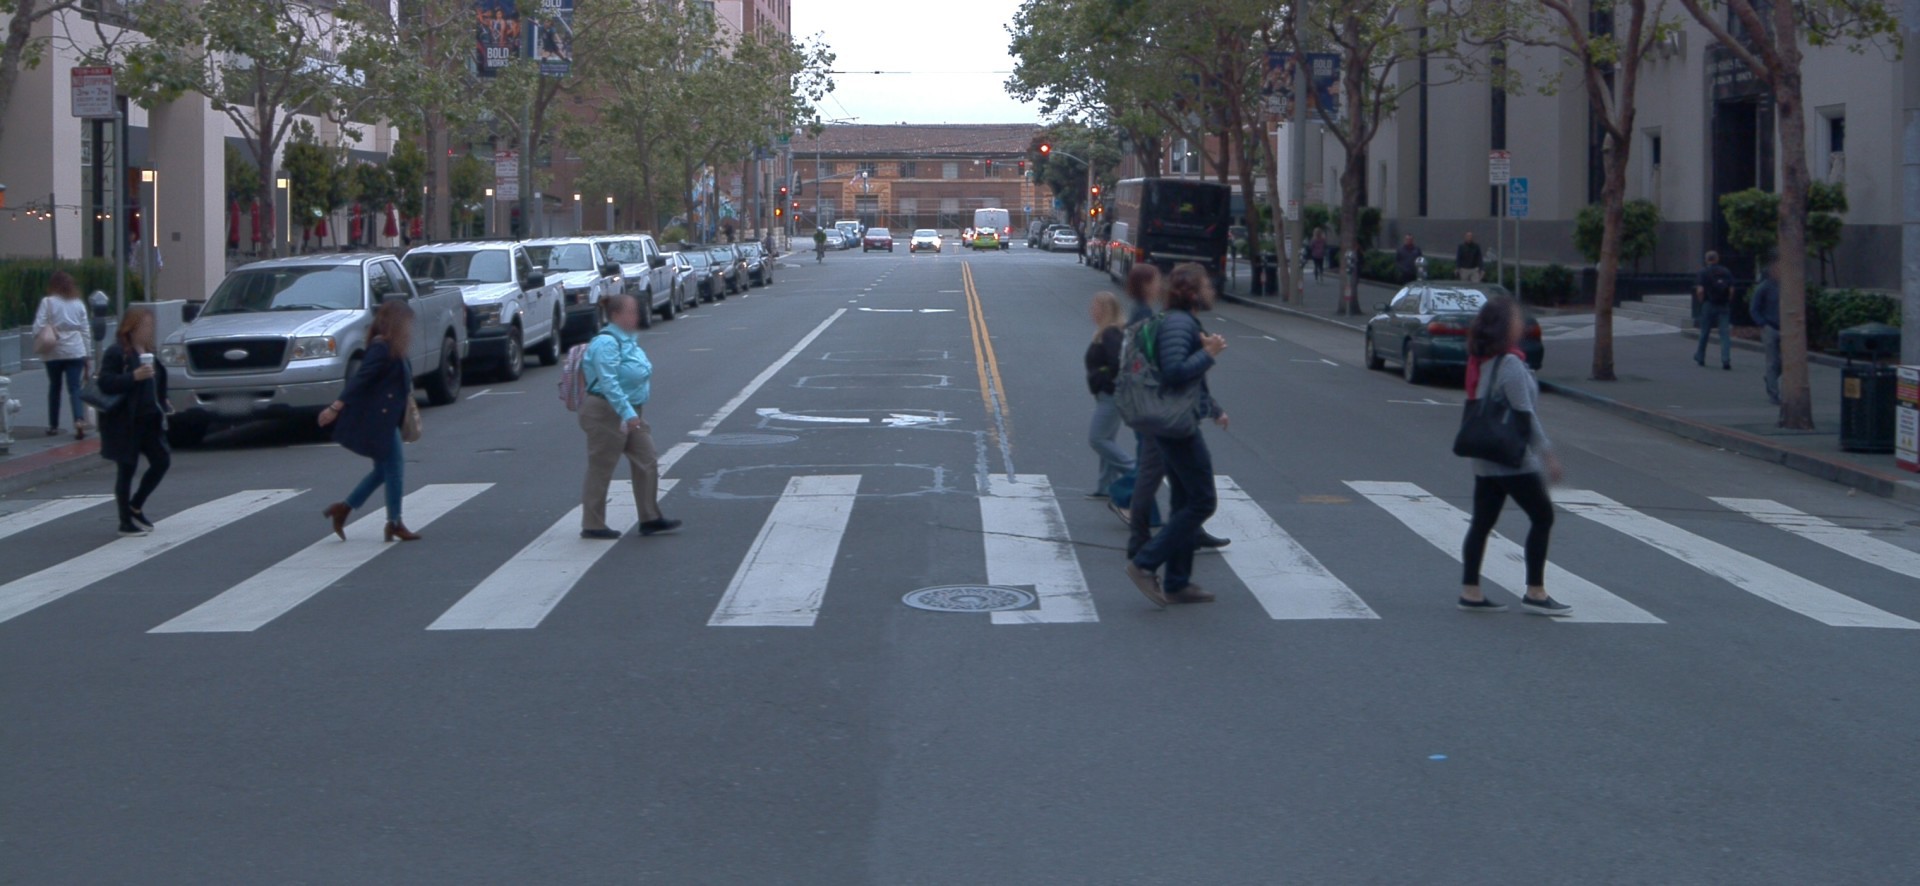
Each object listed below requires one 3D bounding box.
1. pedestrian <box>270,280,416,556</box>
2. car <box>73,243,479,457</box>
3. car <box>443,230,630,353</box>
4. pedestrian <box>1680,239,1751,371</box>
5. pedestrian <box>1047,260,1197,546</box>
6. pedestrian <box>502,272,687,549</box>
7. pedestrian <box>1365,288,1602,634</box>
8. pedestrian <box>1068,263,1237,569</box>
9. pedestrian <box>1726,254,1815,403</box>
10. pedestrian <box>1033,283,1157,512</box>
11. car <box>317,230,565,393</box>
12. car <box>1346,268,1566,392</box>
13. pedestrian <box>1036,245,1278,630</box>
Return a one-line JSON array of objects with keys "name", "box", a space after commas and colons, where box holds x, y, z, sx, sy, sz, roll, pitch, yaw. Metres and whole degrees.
[{"name": "pedestrian", "box": [-4.145, -0.204, 13.878, 0.889, 1.737, 0.888, -1, 2, -18]}, {"name": "car", "box": [-7.295, -1.186, 22.940, 2.495, 1.929, 6.060, -1, 6, 0]}, {"name": "car", "box": [-7.194, -2.696, 35.741, 2.290, 1.870, 5.504, -1, 6, -2]}, {"name": "pedestrian", "box": [10.863, -1.999, 29.748, 0.680, 1.852, 0.981, 0, 2, 2]}, {"name": "pedestrian", "box": [1.085, -0.298, 14.002, 0.970, 1.852, 0.832, 0, 2, 3]}, {"name": "pedestrian", "box": [-2.435, -0.245, 13.853, 1.011, 1.763, 0.834, 0, 2, 6]}, {"name": "pedestrian", "box": [2.774, 0.063, 11.032, 1.041, 1.735, 0.800, -1, 2, -2]}, {"name": "pedestrian", "box": [1.186, -0.198, 12.879, 0.940, 1.805, 0.855, -1, 2, -1]}, {"name": "pedestrian", "box": [9.685, -1.385, 24.717, 0.725, 1.722, 0.870, -1, 2, 0]}, {"name": "pedestrian", "box": [1.014, -0.362, 15.496, 0.891, 1.643, 0.739, 0, 2, 4]}, {"name": "car", "box": [-7.200, -1.969, 29.322, 2.304, 2.009, 5.371, -1, 6, -2]}, {"name": "car", "box": [7.013, -1.695, 29.750, 2.011, 1.472, 4.719, -1, 6, 0]}, {"name": "pedestrian", "box": [1.039, -0.069, 11.143, 1.164, 1.965, 0.847, -1, 2, -4]}]
